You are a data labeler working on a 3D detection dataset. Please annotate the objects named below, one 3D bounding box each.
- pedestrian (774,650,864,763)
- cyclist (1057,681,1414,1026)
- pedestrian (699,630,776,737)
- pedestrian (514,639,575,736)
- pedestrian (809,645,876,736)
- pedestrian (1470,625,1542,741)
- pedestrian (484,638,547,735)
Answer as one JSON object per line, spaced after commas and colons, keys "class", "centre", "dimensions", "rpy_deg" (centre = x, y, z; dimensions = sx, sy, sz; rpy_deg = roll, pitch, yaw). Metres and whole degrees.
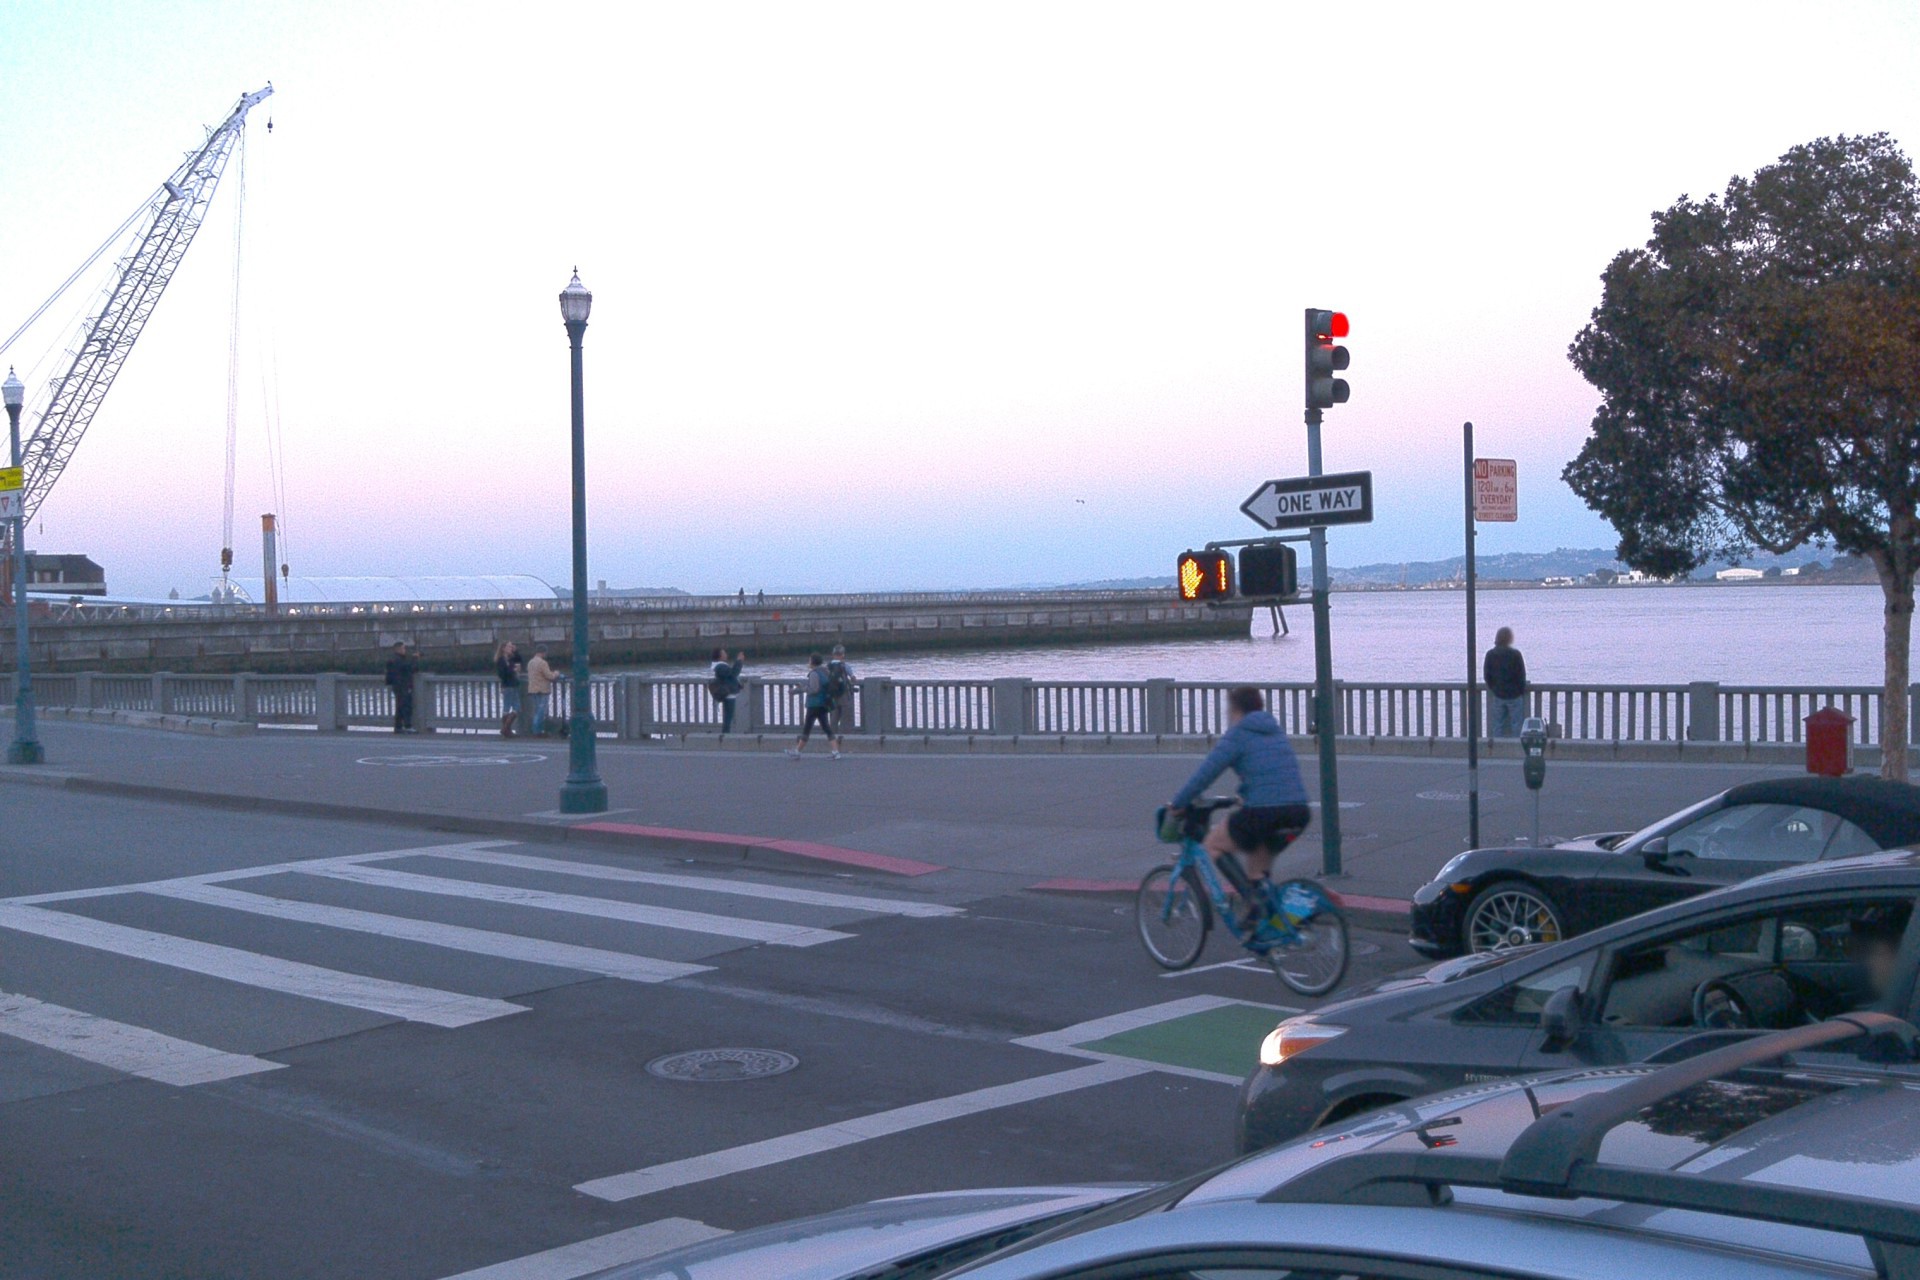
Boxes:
{"class": "pedestrian", "centre": [-2.015, 0.942, 29.629], "dimensions": [0.983, 1.580, 0.826], "rpy_deg": [0, 0, 28]}
{"class": "cyclist", "centre": [1.604, 1.185, 12.371], "dimensions": [0.867, 1.860, 2.038], "rpy_deg": [0, 0, -42]}
{"class": "pedestrian", "centre": [-3.551, 0.686, 33.090], "dimensions": [0.867, 1.680, 0.881], "rpy_deg": [0, 0, -42]}
{"class": "pedestrian", "centre": [-7.380, 0.839, 36.850], "dimensions": [0.753, 1.710, 0.745], "rpy_deg": [0, 0, 33]}
{"class": "pedestrian", "centre": [-1.842, 0.790, 32.667], "dimensions": [0.792, 1.400, 0.928], "rpy_deg": [0, 0, 16]}
{"class": "pedestrian", "centre": [7.209, 0.559, 27.360], "dimensions": [0.751, 1.510, 0.681], "rpy_deg": [0, 0, 33]}
{"class": "pedestrian", "centre": [-7.972, 0.832, 37.196], "dimensions": [0.731, 1.710, 0.825], "rpy_deg": [0, 0, 39]}
